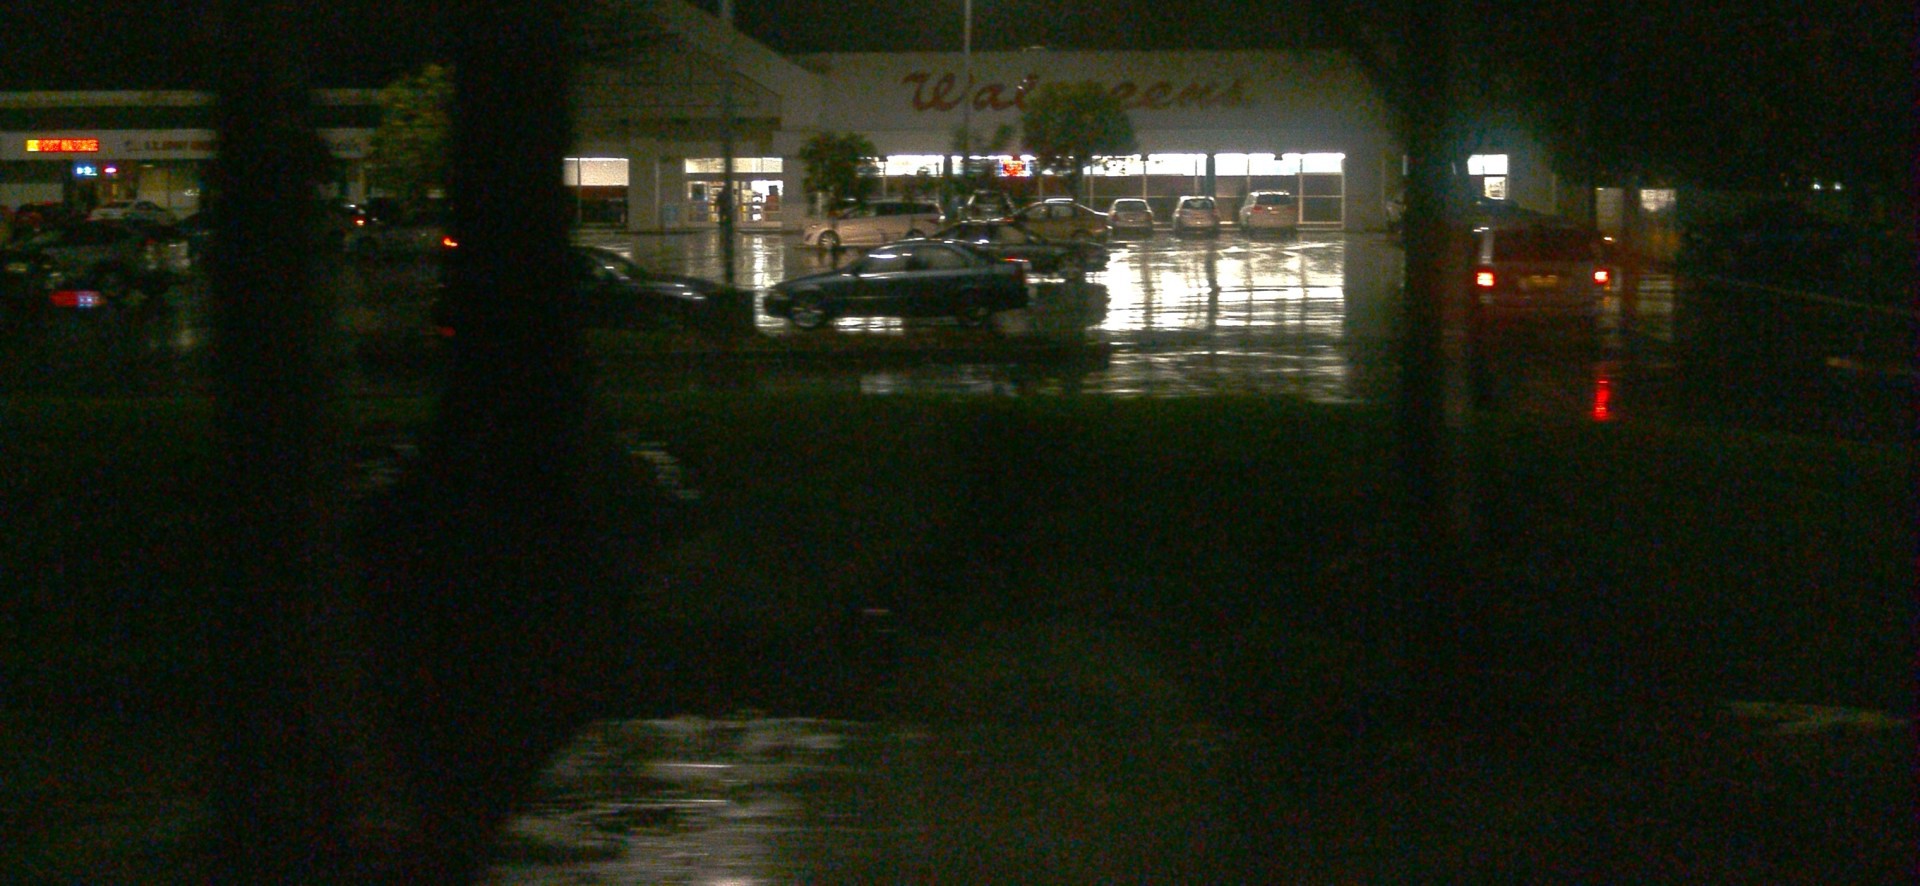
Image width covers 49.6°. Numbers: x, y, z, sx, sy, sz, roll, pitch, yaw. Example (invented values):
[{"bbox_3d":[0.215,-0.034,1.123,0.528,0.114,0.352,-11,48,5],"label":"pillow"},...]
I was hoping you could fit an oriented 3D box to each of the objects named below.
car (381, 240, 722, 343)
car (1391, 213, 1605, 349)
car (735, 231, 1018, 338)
[{"bbox_3d":[-6.043,-2.283,31.094,4.647,1.448,1.908,1,3,3],"label":"car"},{"bbox_3d":[7.918,-2.455,31.092,2.055,1.854,5.008,1,5,2],"label":"car"},{"bbox_3d":[-1.281,-2.548,33.238,4.348,1.618,1.839,1,3,3],"label":"car"}]
